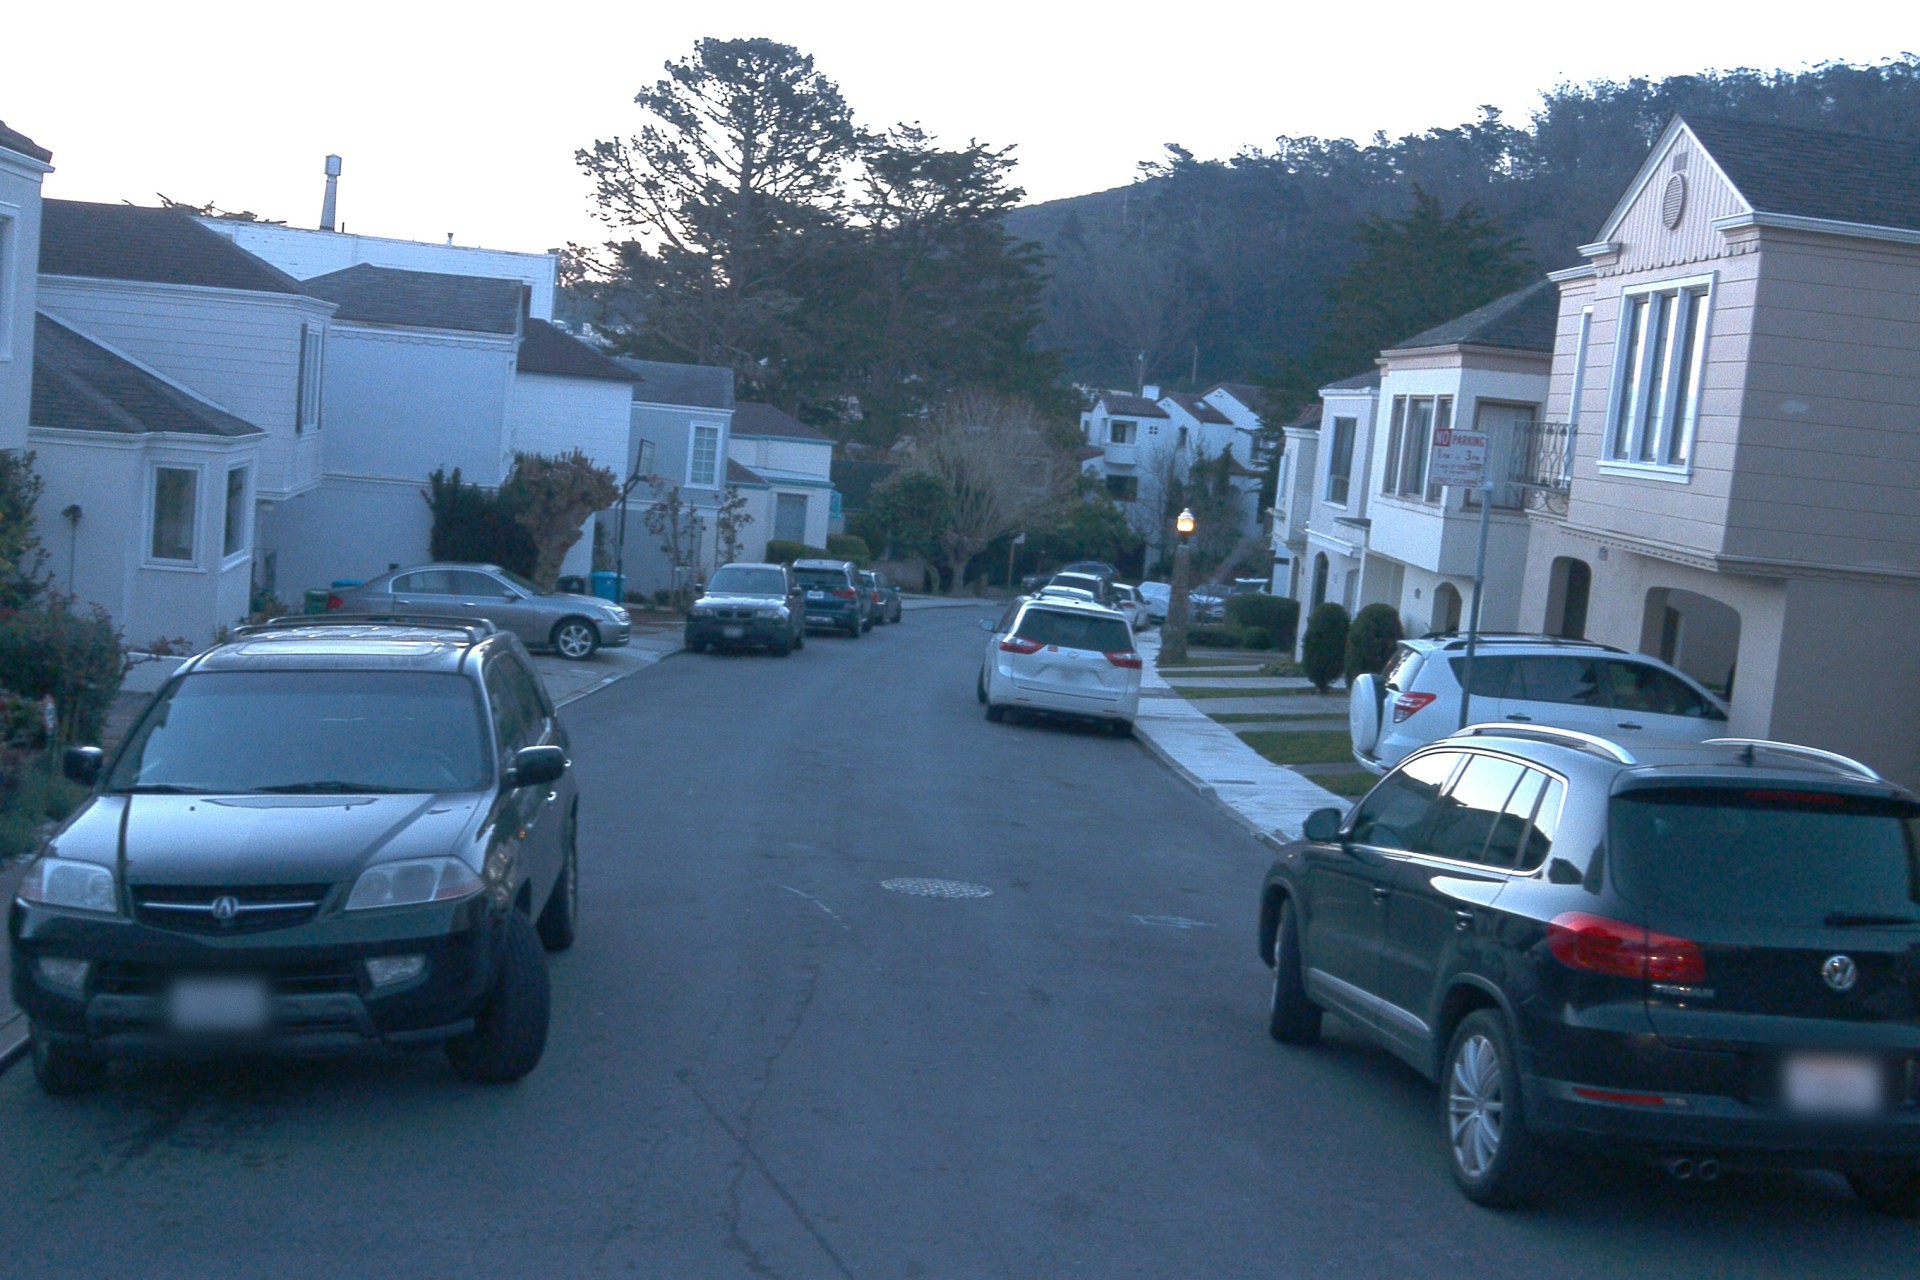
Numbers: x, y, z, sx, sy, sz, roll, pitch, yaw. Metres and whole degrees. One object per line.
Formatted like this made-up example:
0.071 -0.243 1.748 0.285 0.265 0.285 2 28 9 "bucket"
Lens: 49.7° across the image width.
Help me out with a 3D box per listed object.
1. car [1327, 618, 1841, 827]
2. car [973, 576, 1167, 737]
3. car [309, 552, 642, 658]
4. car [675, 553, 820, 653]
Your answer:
5.823 0.741 19.748 4.325 1.860 1.950 0 0 0 "car"
1.423 0.202 29.027 2.376 2.050 5.074 0 0 -1 "car"
-7.441 -0.539 32.247 4.773 1.580 1.987 0 0 -5 "car"
-3.877 -0.660 38.528 2.094 1.740 4.529 0 0 1 "car"
